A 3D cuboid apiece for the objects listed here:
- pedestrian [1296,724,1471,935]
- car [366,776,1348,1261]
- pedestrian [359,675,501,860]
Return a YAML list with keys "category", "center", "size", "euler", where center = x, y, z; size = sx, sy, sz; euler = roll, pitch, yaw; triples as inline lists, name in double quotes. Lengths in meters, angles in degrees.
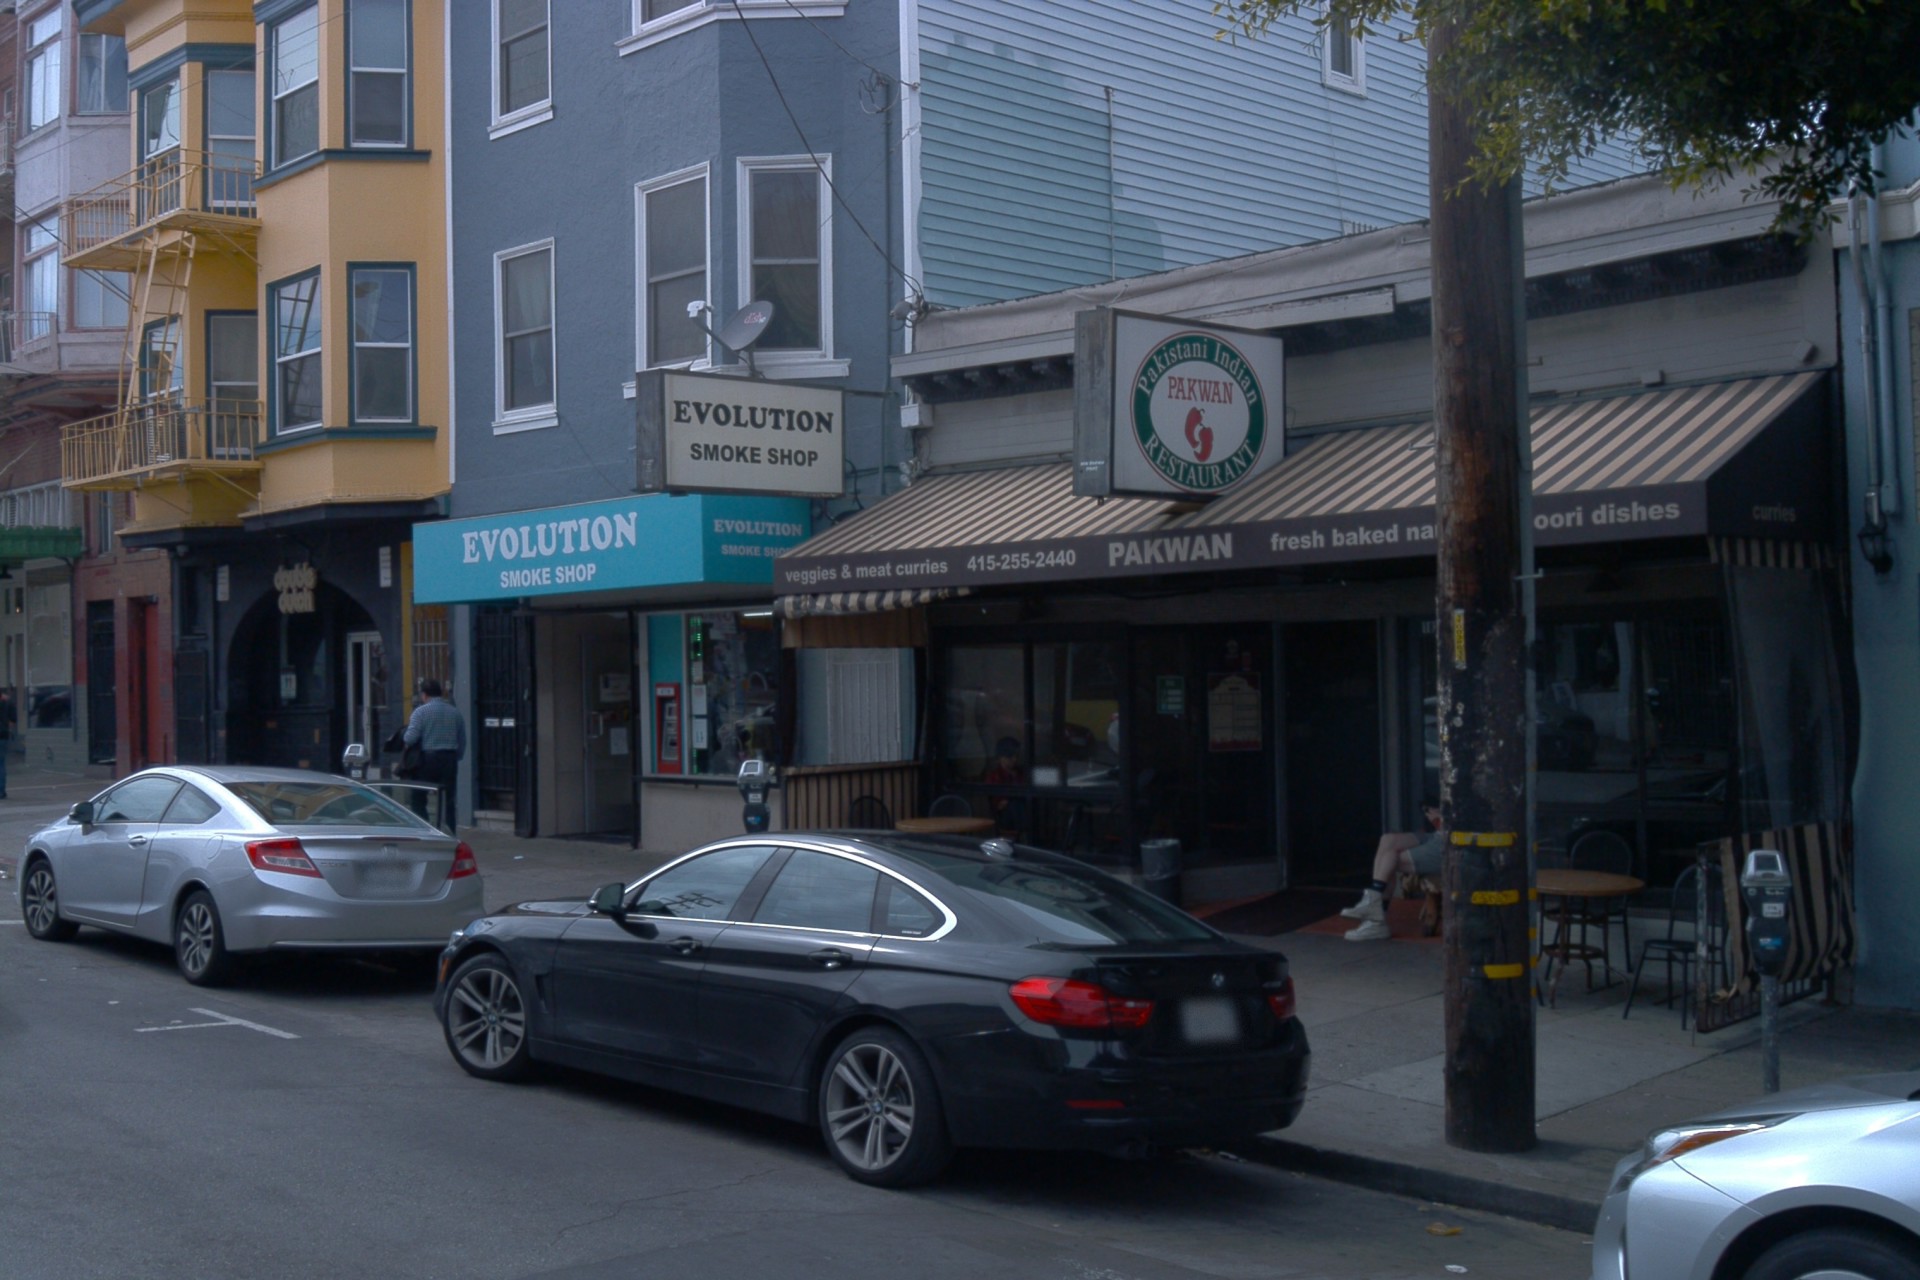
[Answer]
- category: "pedestrian"
  center: [2.938, 1.304, 14.406]
  size: [1.072, 1.400, 0.675]
  euler: [0, 1, 0]
- category: "car"
  center: [-0.713, 1.538, 9.923]
  size: [4.710, 1.410, 2.076]
  euler: [0, 1, 45]
- category: "pedestrian"
  center: [-5.226, 1.222, 20.342]
  size: [1.069, 1.724, 0.964]
  euler: [-1, 1, -36]
